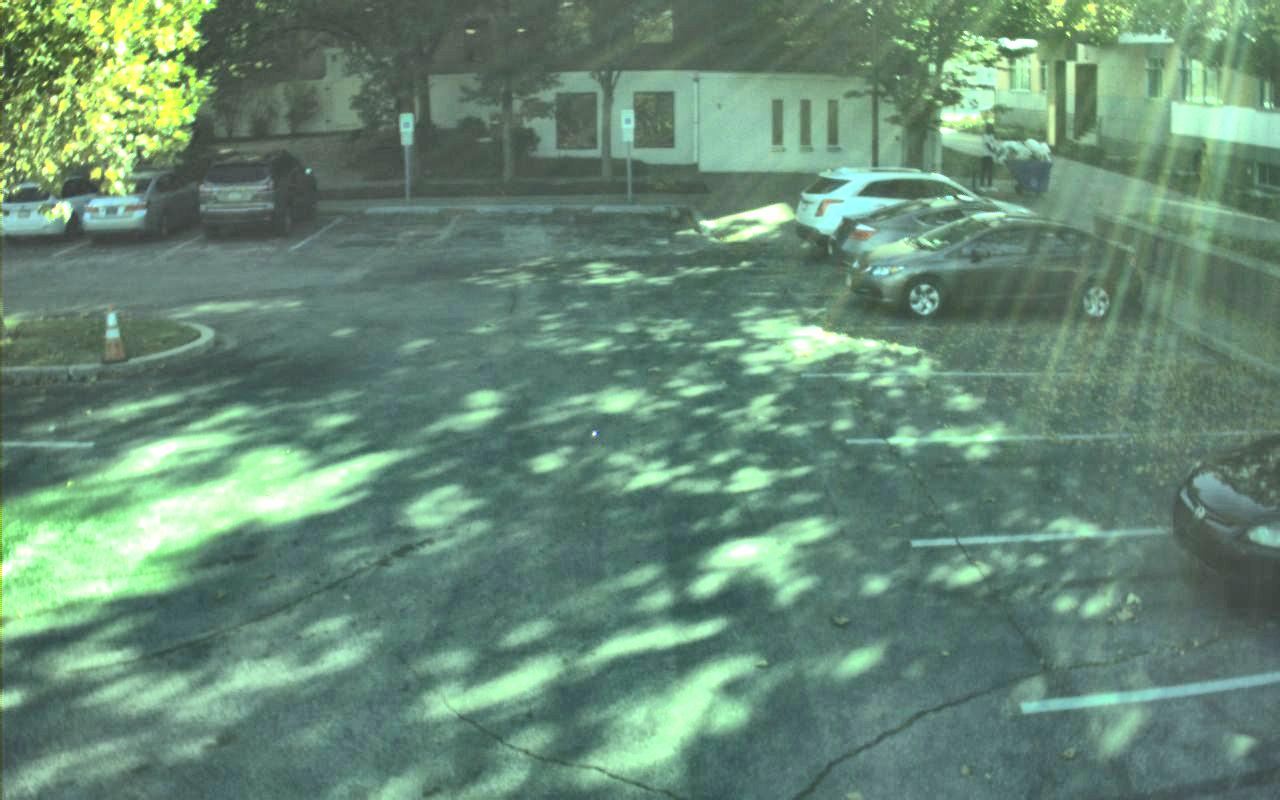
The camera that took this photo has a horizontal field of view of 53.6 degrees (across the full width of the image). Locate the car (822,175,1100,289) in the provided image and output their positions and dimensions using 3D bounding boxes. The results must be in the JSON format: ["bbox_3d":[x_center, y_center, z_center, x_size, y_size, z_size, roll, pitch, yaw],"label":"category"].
[{"bbox_3d":[5.286,-2.820,20.272,4.309,1.539,1.914,-2,16,-4],"label":"car"}]

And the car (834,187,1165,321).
[{"bbox_3d":[5.255,-2.192,17.873,4.595,1.579,1.982,-2,16,-2],"label":"car"}]

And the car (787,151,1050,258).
[{"bbox_3d":[5.104,-3.652,22.715,4.553,1.656,1.974,-3,16,-5],"label":"car"}]

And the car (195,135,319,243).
[{"bbox_3d":[-8.365,-4.707,26.515,1.981,1.697,4.532,-3,17,-6],"label":"car"}]

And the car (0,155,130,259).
[{"bbox_3d":[-13.561,-4.525,26.600,1.959,1.660,4.525,-2,17,-5],"label":"car"}]

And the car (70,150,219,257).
[{"bbox_3d":[-11.050,-4.426,26.187,1.940,1.630,4.476,-1,17,0],"label":"car"}]
